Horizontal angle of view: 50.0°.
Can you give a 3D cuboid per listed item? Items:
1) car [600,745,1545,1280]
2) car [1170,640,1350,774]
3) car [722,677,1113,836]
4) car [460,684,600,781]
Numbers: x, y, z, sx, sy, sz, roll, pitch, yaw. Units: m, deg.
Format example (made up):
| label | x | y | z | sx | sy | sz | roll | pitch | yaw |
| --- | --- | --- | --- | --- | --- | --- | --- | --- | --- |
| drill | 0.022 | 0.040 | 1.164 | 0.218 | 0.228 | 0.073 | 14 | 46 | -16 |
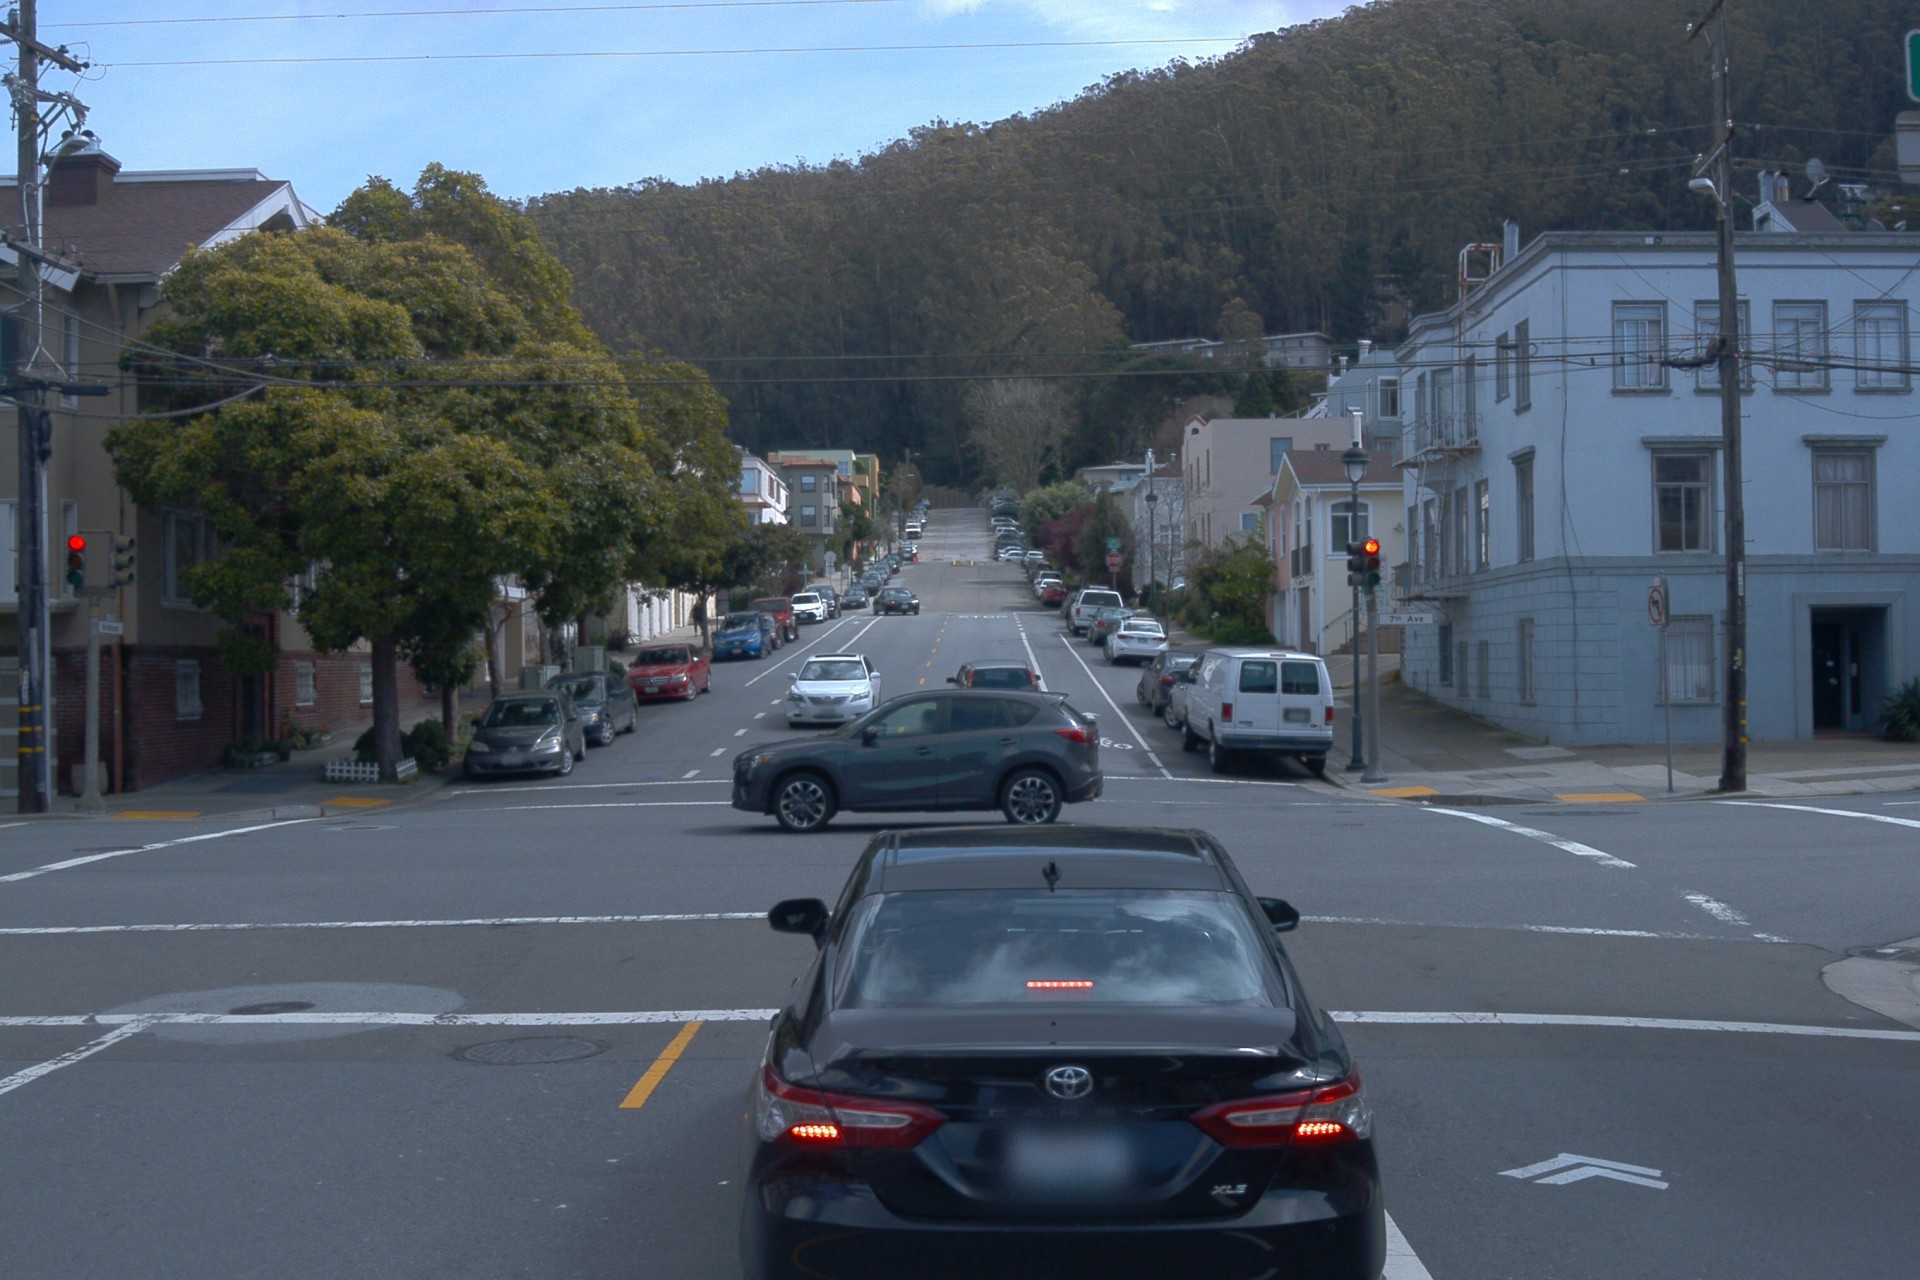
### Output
| label | x | y | z | sx | sy | sz | roll | pitch | yaw |
| --- | --- | --- | --- | --- | --- | --- | --- | --- | --- |
| car | 0.282 | 1.305 | 7.305 | 2.249 | 1.620 | 4.798 | 0 | 0 | 0 |
| car | 5.312 | 1.123 | 37.237 | 2.299 | 2.250 | 5.313 | 0 | 0 | -2 |
| car | -0.471 | 1.348 | 24.610 | 4.485 | 1.780 | 2.006 | 0 | 0 | 1 |
| car | -7.707 | 1.629 | 37.253 | 1.836 | 1.560 | 4.133 | 0 | 0 | -3 |
